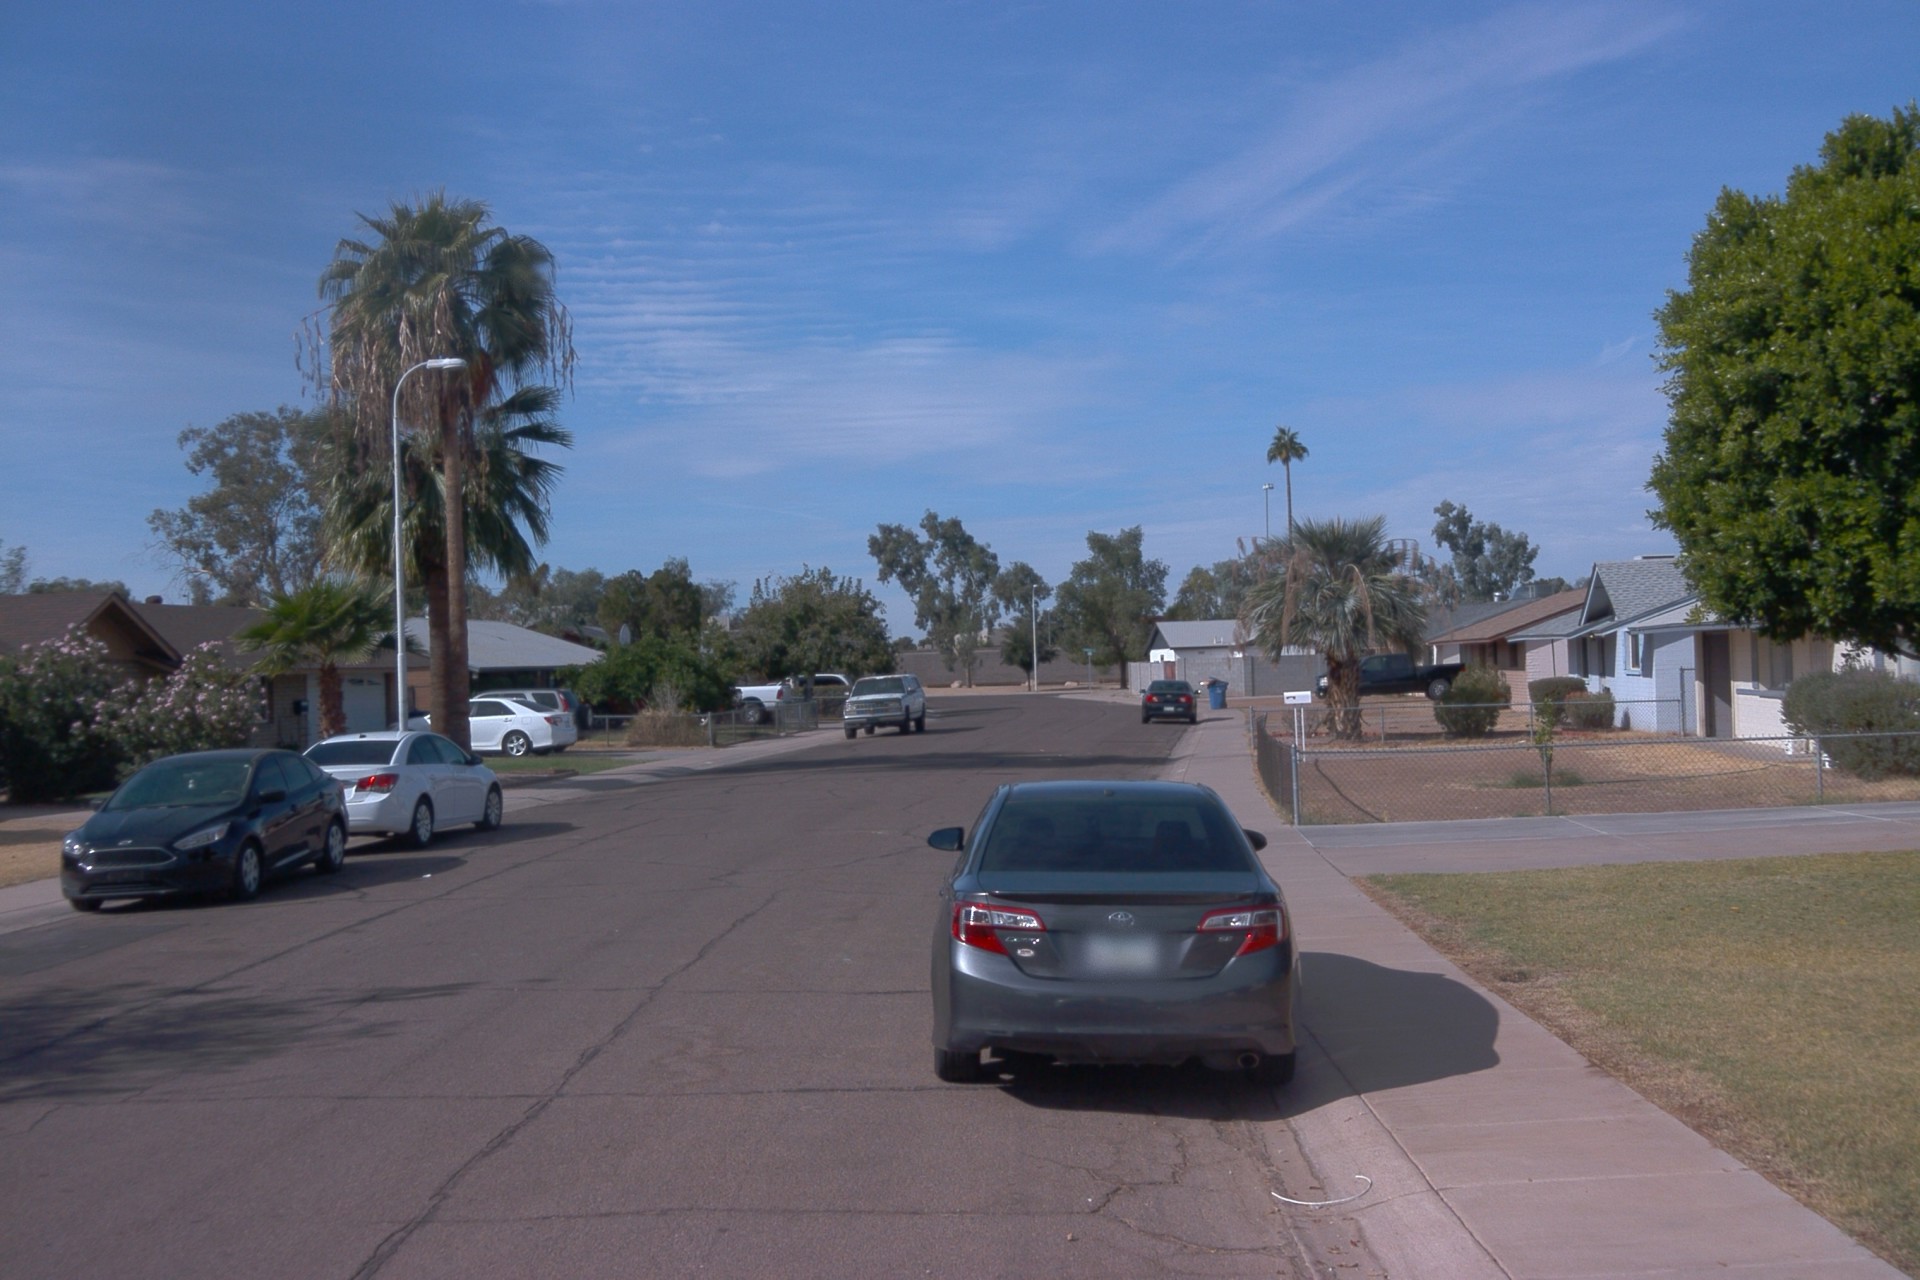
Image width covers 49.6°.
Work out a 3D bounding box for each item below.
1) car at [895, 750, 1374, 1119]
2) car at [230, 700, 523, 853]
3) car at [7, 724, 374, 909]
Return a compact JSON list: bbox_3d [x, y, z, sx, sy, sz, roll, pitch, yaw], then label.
[{"bbox_3d":[0.807,1.455,11.862,2.150,1.470,5.012,0,-1,1],"label":"car"},{"bbox_3d":[-7.479,1.694,27.167,2.079,1.770,4.631,0,-1,7],"label":"car"},{"bbox_3d":[-7.786,1.729,21.558,2.055,1.610,4.523,0,-1,1],"label":"car"}]
